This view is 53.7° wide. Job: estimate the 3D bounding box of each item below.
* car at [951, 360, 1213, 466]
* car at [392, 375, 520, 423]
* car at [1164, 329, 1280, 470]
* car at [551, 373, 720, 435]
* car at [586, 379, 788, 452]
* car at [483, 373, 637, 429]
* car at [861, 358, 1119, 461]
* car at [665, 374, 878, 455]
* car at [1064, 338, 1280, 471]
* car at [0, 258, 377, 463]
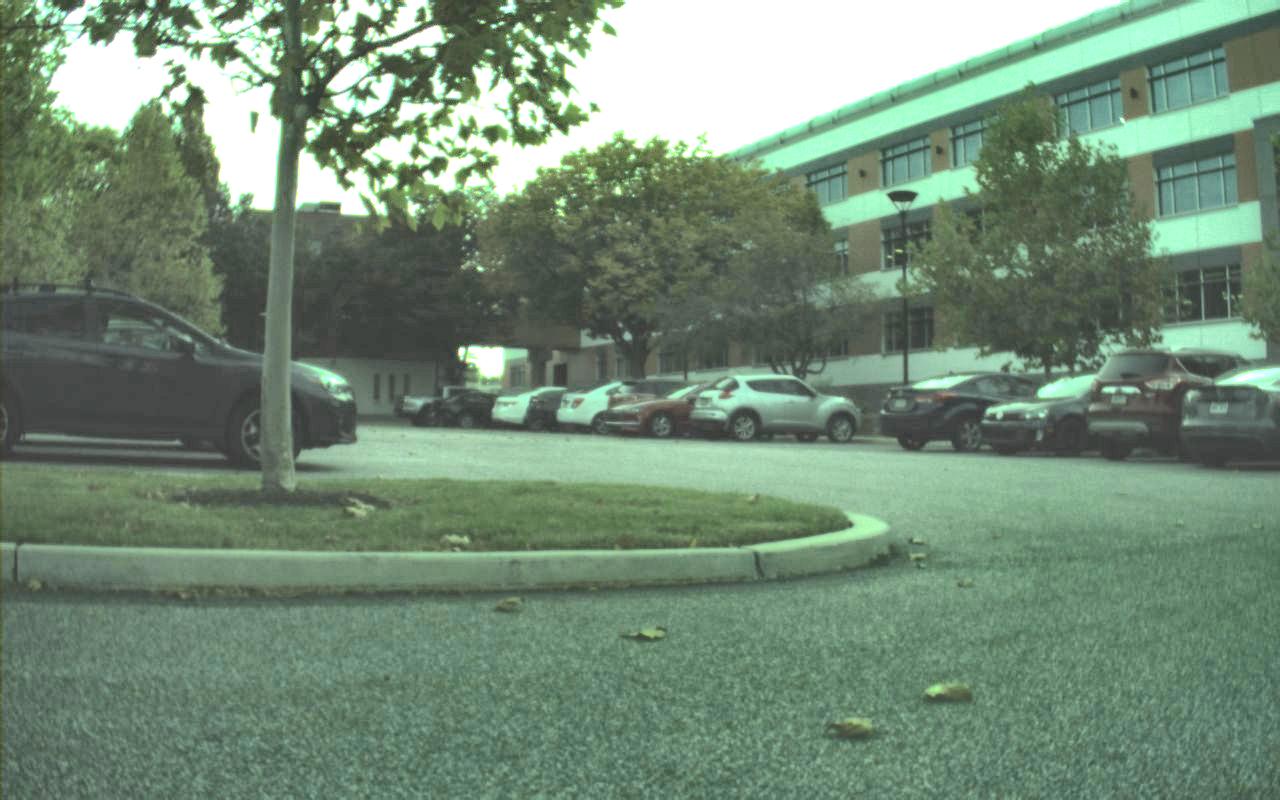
[{"bbox_3d":[7.401,0.183,19.828,4.363,1.572,1.908,0,1,-22],"label":"car"},{"bbox_3d":[-7.744,-0.048,52.413,5.024,1.917,2.092,0,1,-25],"label":"car"},{"bbox_3d":[9.109,0.004,14.876,4.488,1.643,1.948,0,1,-23],"label":"car"},{"bbox_3d":[-0.136,0.093,36.312,4.476,1.687,1.947,0,1,-21],"label":"car"},{"bbox_3d":[1.151,0.336,31.034,4.553,1.674,1.960,0,1,-21],"label":"car"},{"bbox_3d":[-2.609,0.021,40.796,4.594,1.719,1.990,0,1,-22],"label":"car"},{"bbox_3d":[6.336,0.127,21.841,4.581,1.667,1.976,0,1,-26],"label":"car"},{"bbox_3d":[3.050,0.290,29.075,4.553,1.747,1.963,0,1,-22],"label":"car"},{"bbox_3d":[8.550,0.054,17.434,4.472,1.767,1.960,0,1,-25],"label":"car"},{"bbox_3d":[-4.752,-0.327,10.907,4.385,1.749,1.936,0,1,-27],"label":"car"}]
